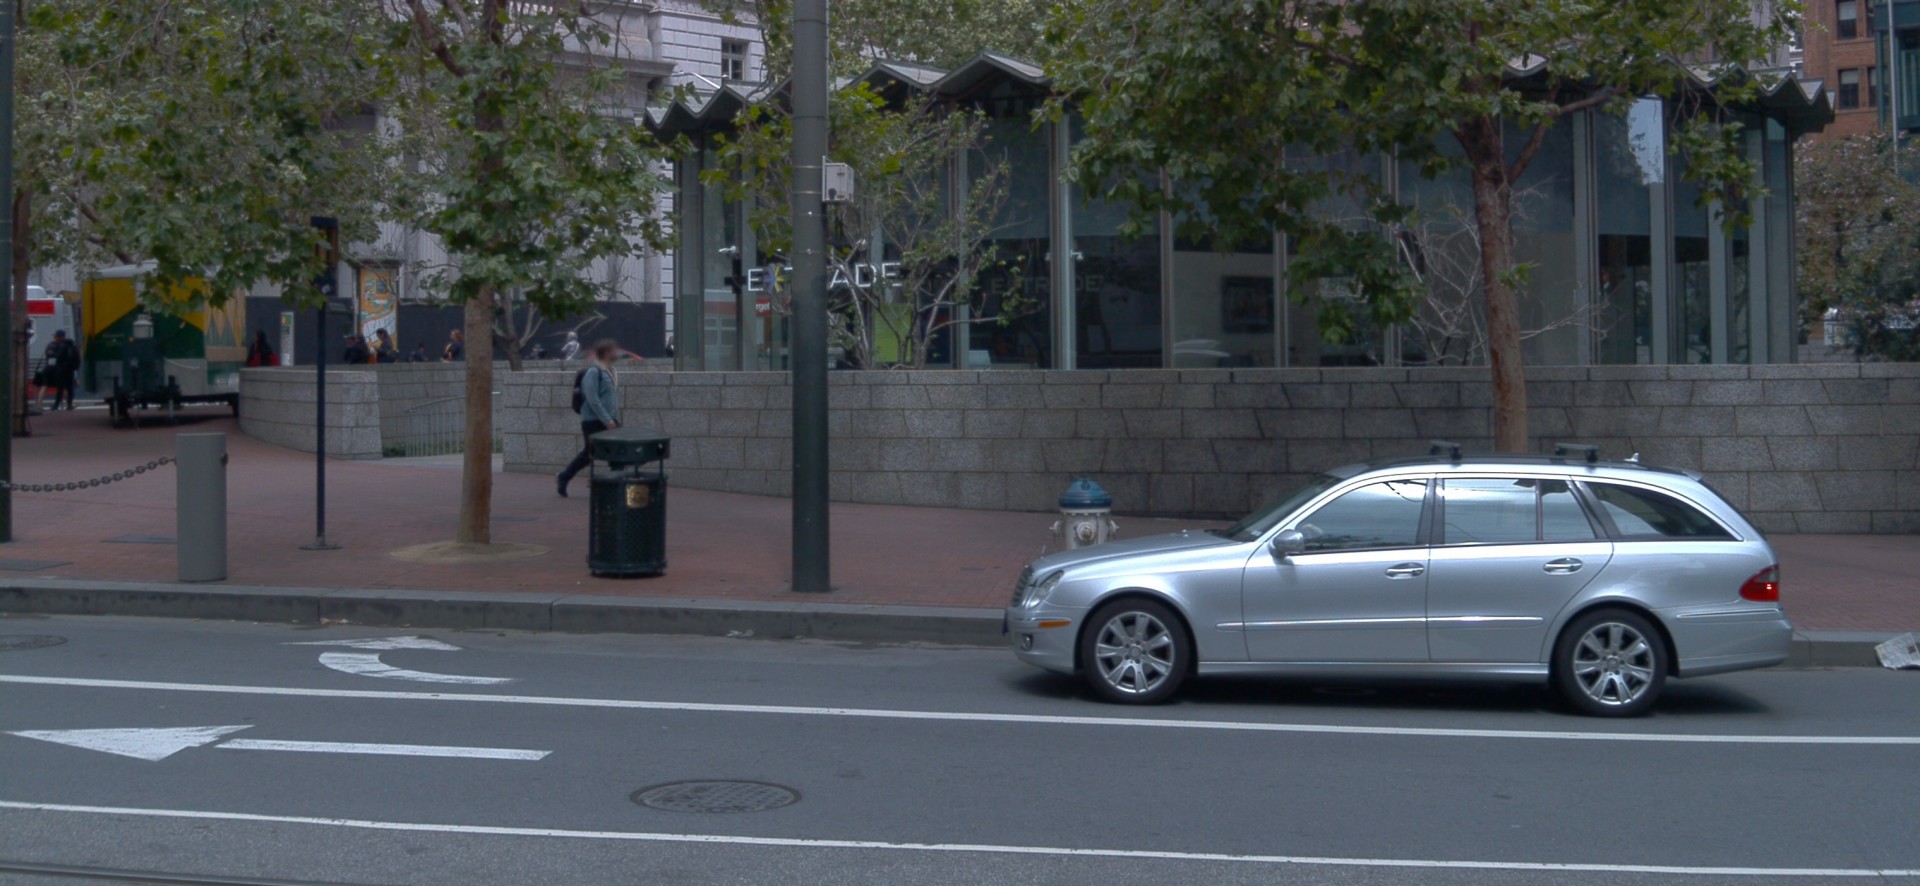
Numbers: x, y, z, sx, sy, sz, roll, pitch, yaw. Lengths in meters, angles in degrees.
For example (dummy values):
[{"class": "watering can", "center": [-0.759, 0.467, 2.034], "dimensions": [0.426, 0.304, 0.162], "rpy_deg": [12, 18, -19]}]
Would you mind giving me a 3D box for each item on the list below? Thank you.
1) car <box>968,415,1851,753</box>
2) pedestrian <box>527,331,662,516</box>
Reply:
[{"class": "car", "center": [2.592, 0.767, 12.733], "dimensions": [4.905, 1.625, 2.057], "rpy_deg": [1, 4, 6]}, {"class": "pedestrian", "center": [-4.125, -0.245, 23.427], "dimensions": [1.183, 1.957, 0.924], "rpy_deg": [1, 2, 22]}]
